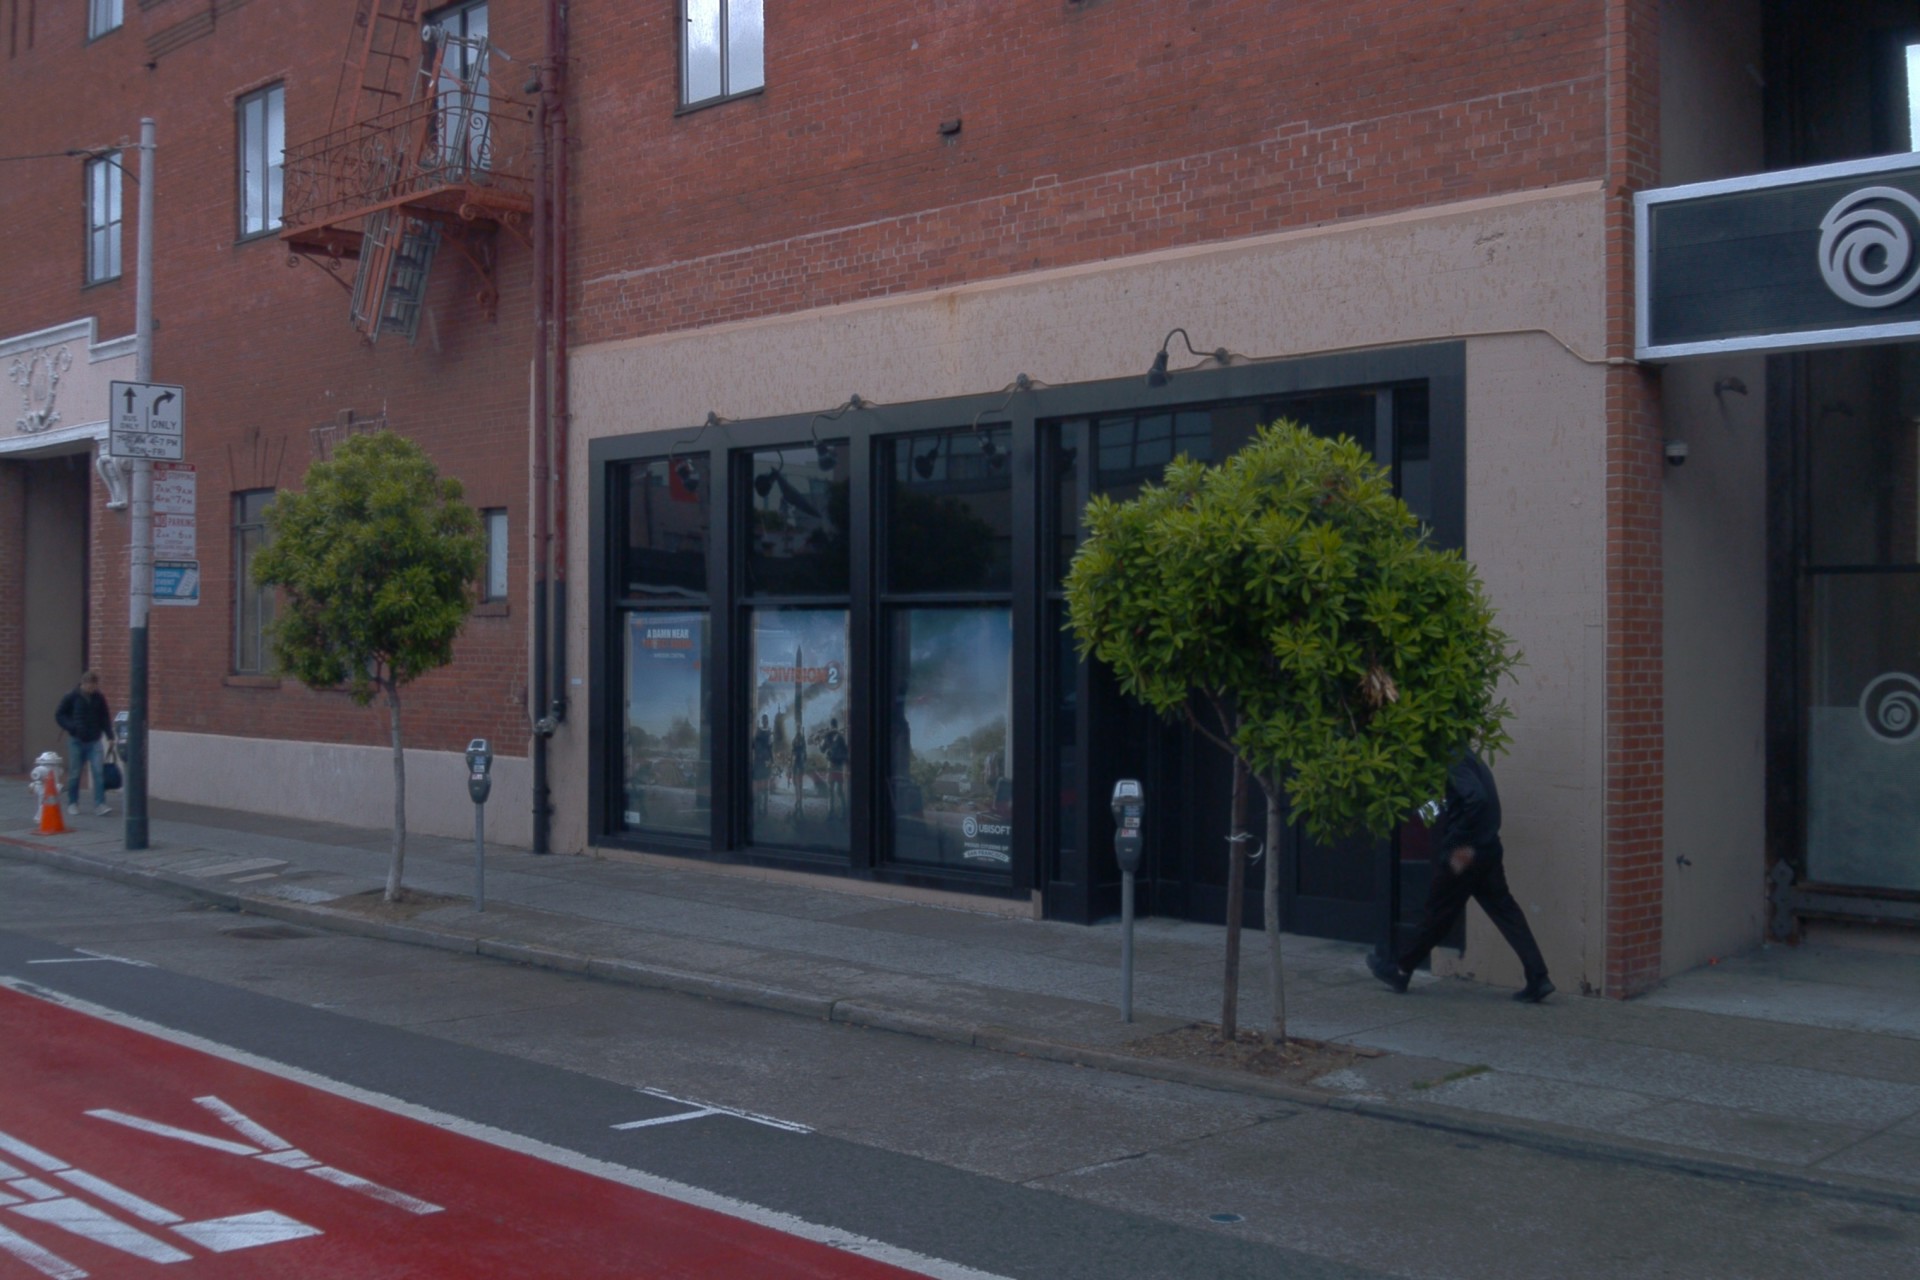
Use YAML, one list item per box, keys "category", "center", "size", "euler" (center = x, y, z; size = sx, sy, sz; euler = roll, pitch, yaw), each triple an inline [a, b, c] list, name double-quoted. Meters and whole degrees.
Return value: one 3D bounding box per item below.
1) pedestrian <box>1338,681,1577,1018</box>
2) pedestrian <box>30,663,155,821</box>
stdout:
- category: "pedestrian"
  center: [2.910, 1.171, 12.109]
  size: [1.126, 1.848, 0.799]
  euler: [0, -1, 38]
- category: "pedestrian"
  center: [-9.897, 1.136, 23.613]
  size: [0.979, 1.730, 1.128]
  euler: [1, -1, -42]
